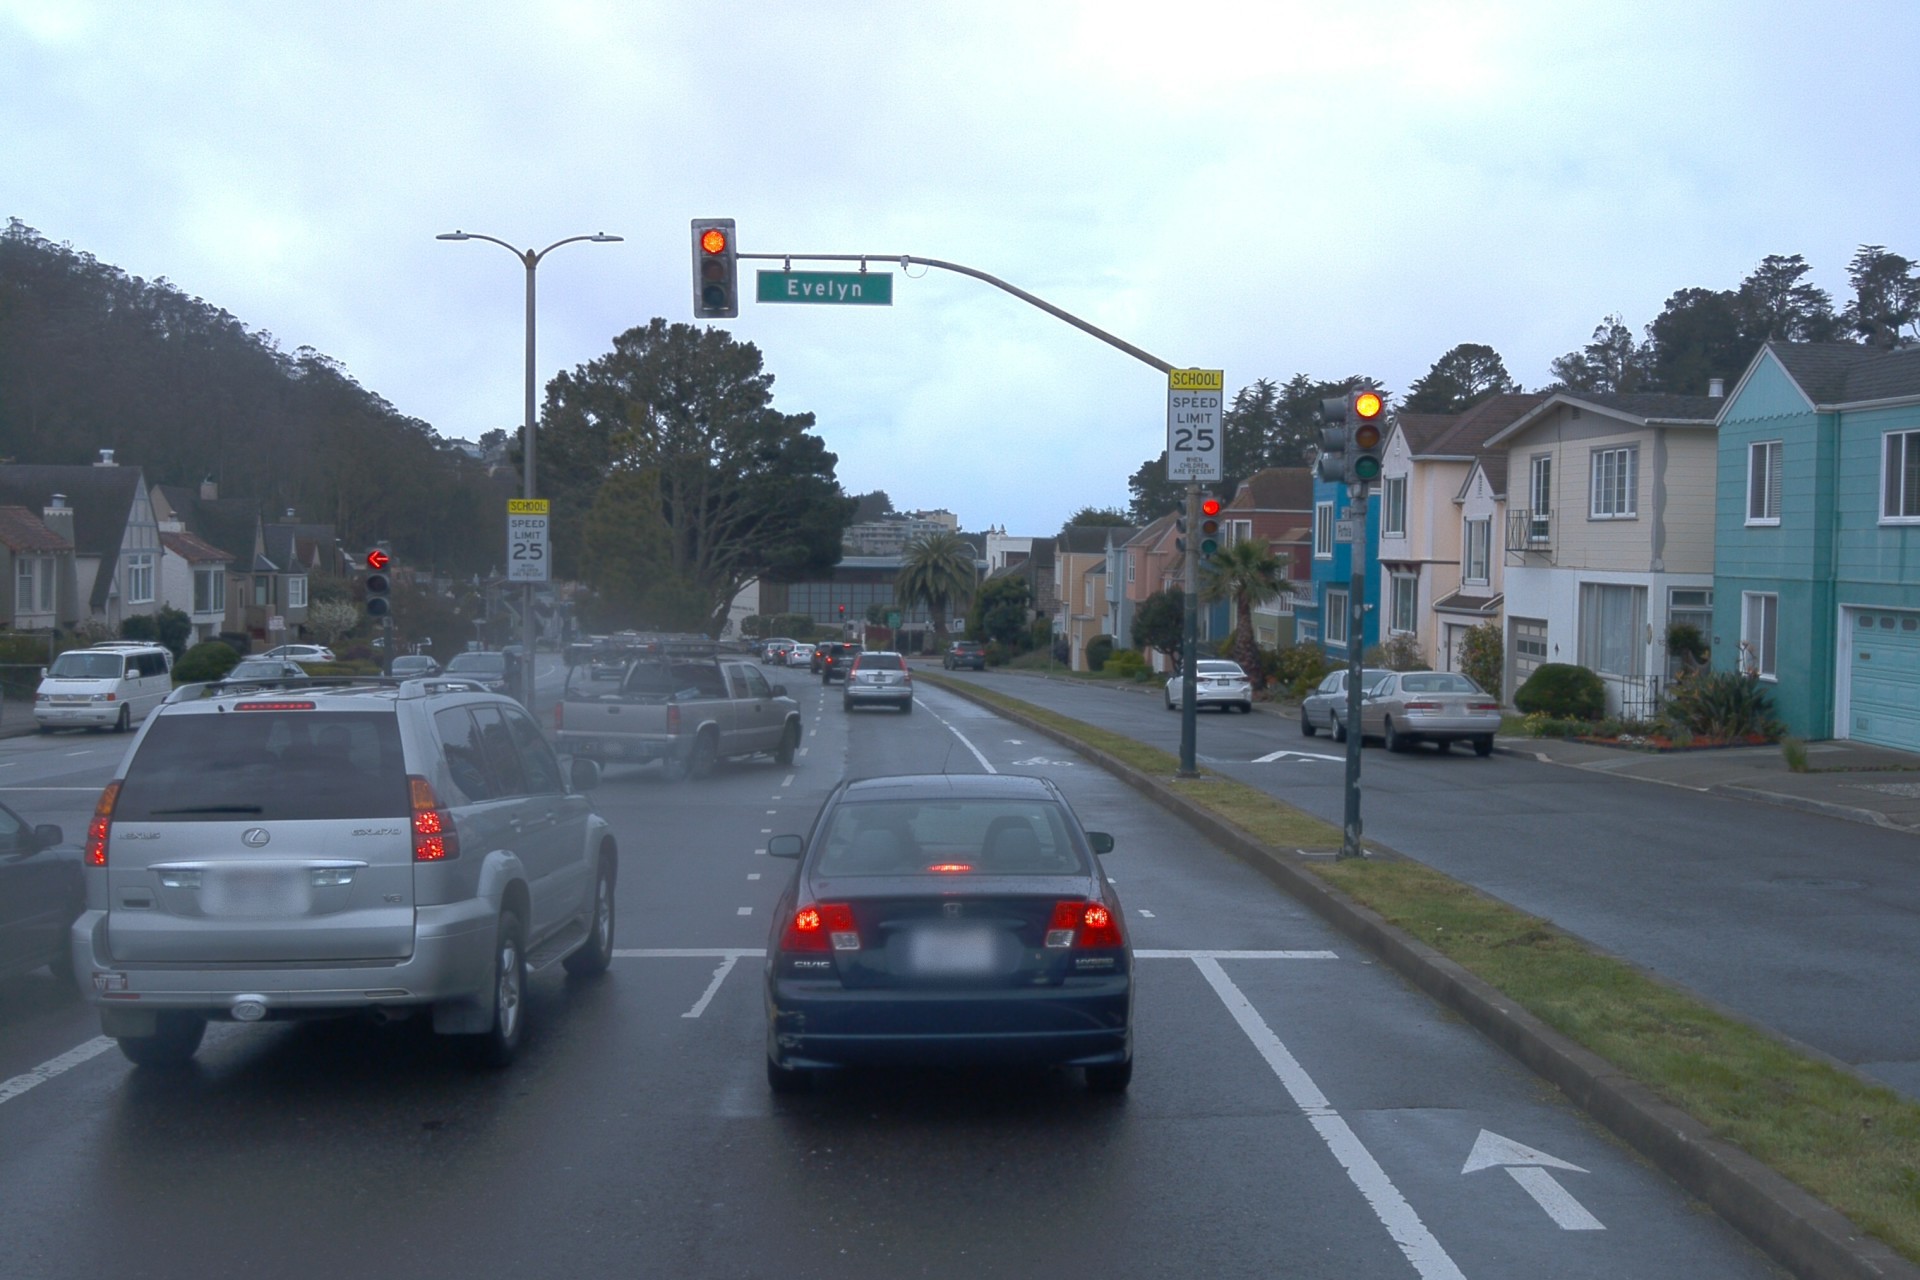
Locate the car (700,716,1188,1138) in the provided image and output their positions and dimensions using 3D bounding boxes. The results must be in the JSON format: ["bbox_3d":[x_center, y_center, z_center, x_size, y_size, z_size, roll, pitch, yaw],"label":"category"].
[{"bbox_3d":[-0.106,1.253,10.545,2.004,1.570,4.164,0,0,-1],"label":"car"}]

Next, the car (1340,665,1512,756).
[{"bbox_3d":[8.084,1.187,36.132,1.755,1.440,4.469,0,0,-4],"label":"car"}]

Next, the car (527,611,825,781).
[{"bbox_3d":[-4.168,0.773,31.626,2.432,2.350,5.977,0,0,14],"label":"car"}]
